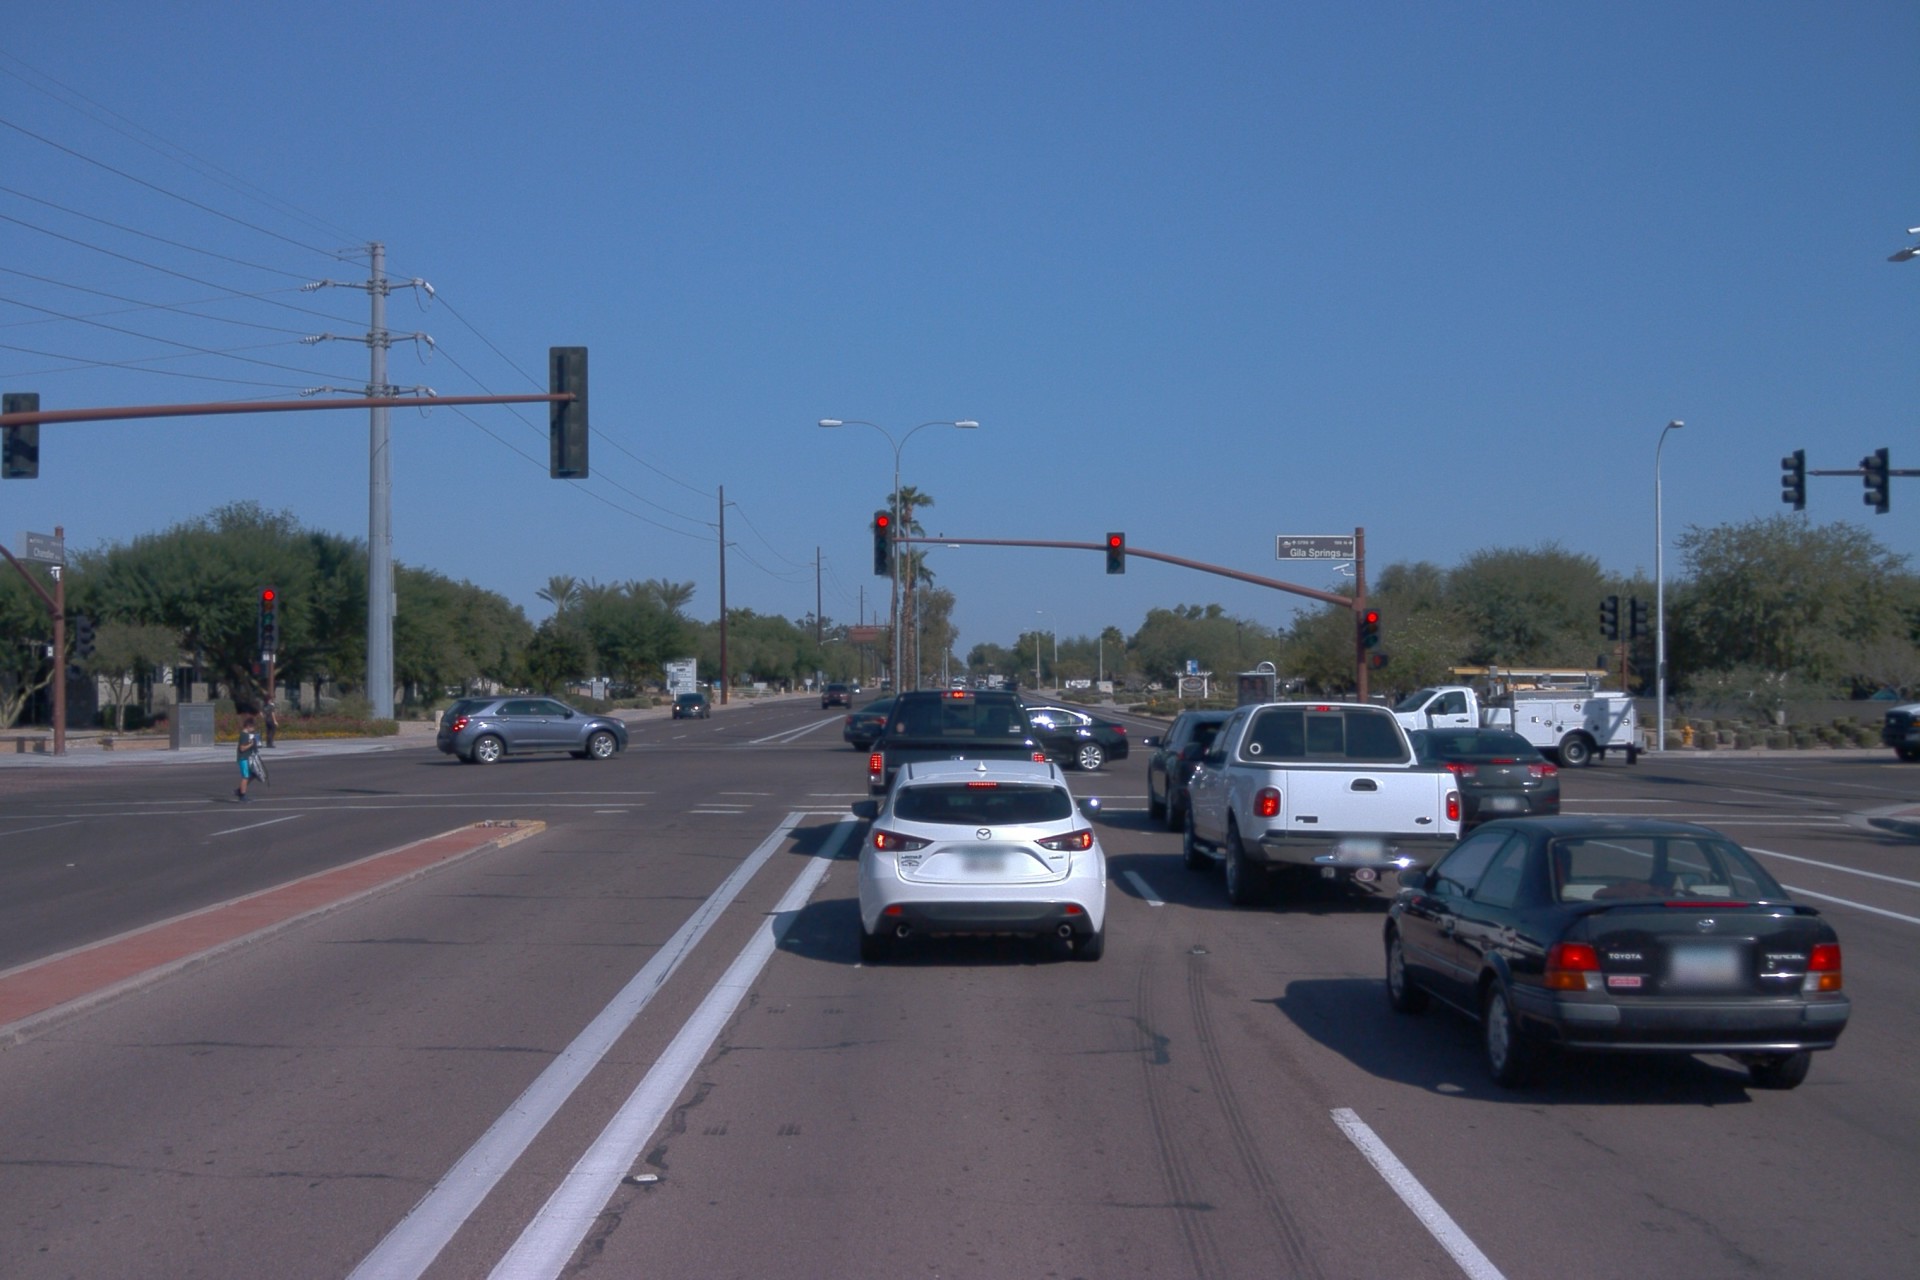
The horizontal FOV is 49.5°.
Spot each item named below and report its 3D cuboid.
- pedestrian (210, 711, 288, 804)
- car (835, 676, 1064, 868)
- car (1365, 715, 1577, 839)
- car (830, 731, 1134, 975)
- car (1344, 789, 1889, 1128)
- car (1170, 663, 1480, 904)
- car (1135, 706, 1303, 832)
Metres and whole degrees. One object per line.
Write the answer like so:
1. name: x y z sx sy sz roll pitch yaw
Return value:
1. pedestrian: -11.938 1.965 34.975 1.087 1.530 0.743 0 -1 -5
2. car: -0.031 1.506 25.195 2.500 2.080 5.001 0 -1 2
3. car: 6.917 1.820 28.658 1.828 1.540 4.447 0 -1 0
4. car: 0.169 1.573 16.694 2.099 1.600 4.628 0 -1 0
5. car: 3.462 1.638 11.840 1.735 1.400 4.161 0 -1 -1
6. car: 3.408 1.304 20.630 2.073 2.070 5.518 0 -1 0
7. car: 3.578 1.755 29.422 1.789 1.630 4.213 0 -1 -1
